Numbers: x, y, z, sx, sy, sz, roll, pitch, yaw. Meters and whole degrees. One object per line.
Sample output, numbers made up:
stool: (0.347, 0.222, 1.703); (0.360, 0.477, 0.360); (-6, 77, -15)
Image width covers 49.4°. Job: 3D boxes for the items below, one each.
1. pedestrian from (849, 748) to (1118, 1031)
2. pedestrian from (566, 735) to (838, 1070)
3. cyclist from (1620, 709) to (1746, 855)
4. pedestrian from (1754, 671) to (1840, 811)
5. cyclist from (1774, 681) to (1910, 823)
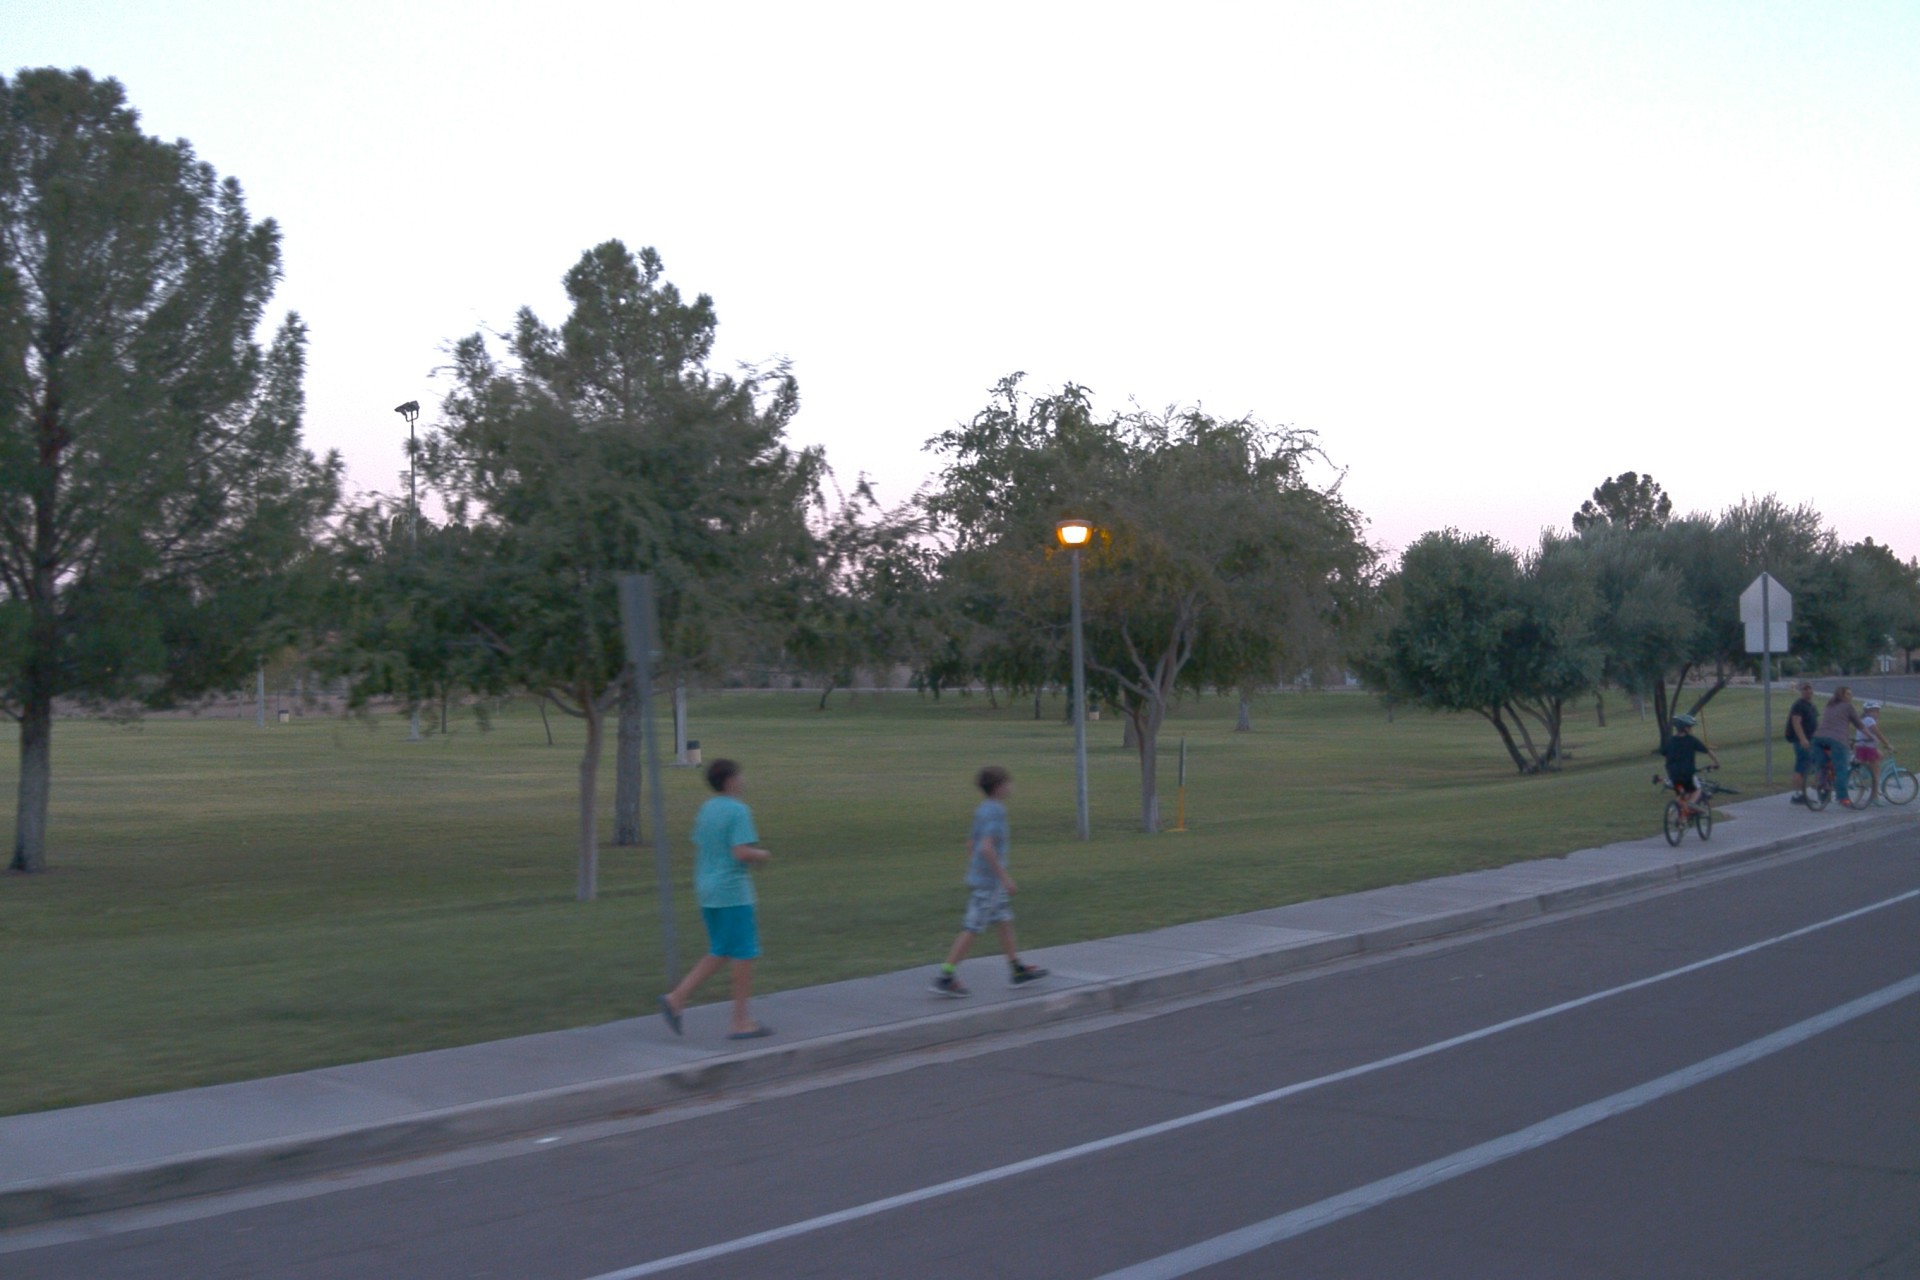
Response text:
pedestrian: (0.130, 1.483, 12.844); (1.290, 1.560, 1.087); (0, 0, -27)
pedestrian: (-1.431, 1.400, 11.619); (1.119, 1.680, 0.990); (1, 0, -44)
cyclist: (7.806, 1.500, 22.514); (0.772, 1.460, 1.641); (0, 0, 39)
pedestrian: (11.346, 1.349, 28.319); (0.835, 1.840, 0.887); (0, 0, 40)
cyclist: (11.517, 1.432, 27.262); (1.967, 1.770, 0.804); (1, 0, -39)
